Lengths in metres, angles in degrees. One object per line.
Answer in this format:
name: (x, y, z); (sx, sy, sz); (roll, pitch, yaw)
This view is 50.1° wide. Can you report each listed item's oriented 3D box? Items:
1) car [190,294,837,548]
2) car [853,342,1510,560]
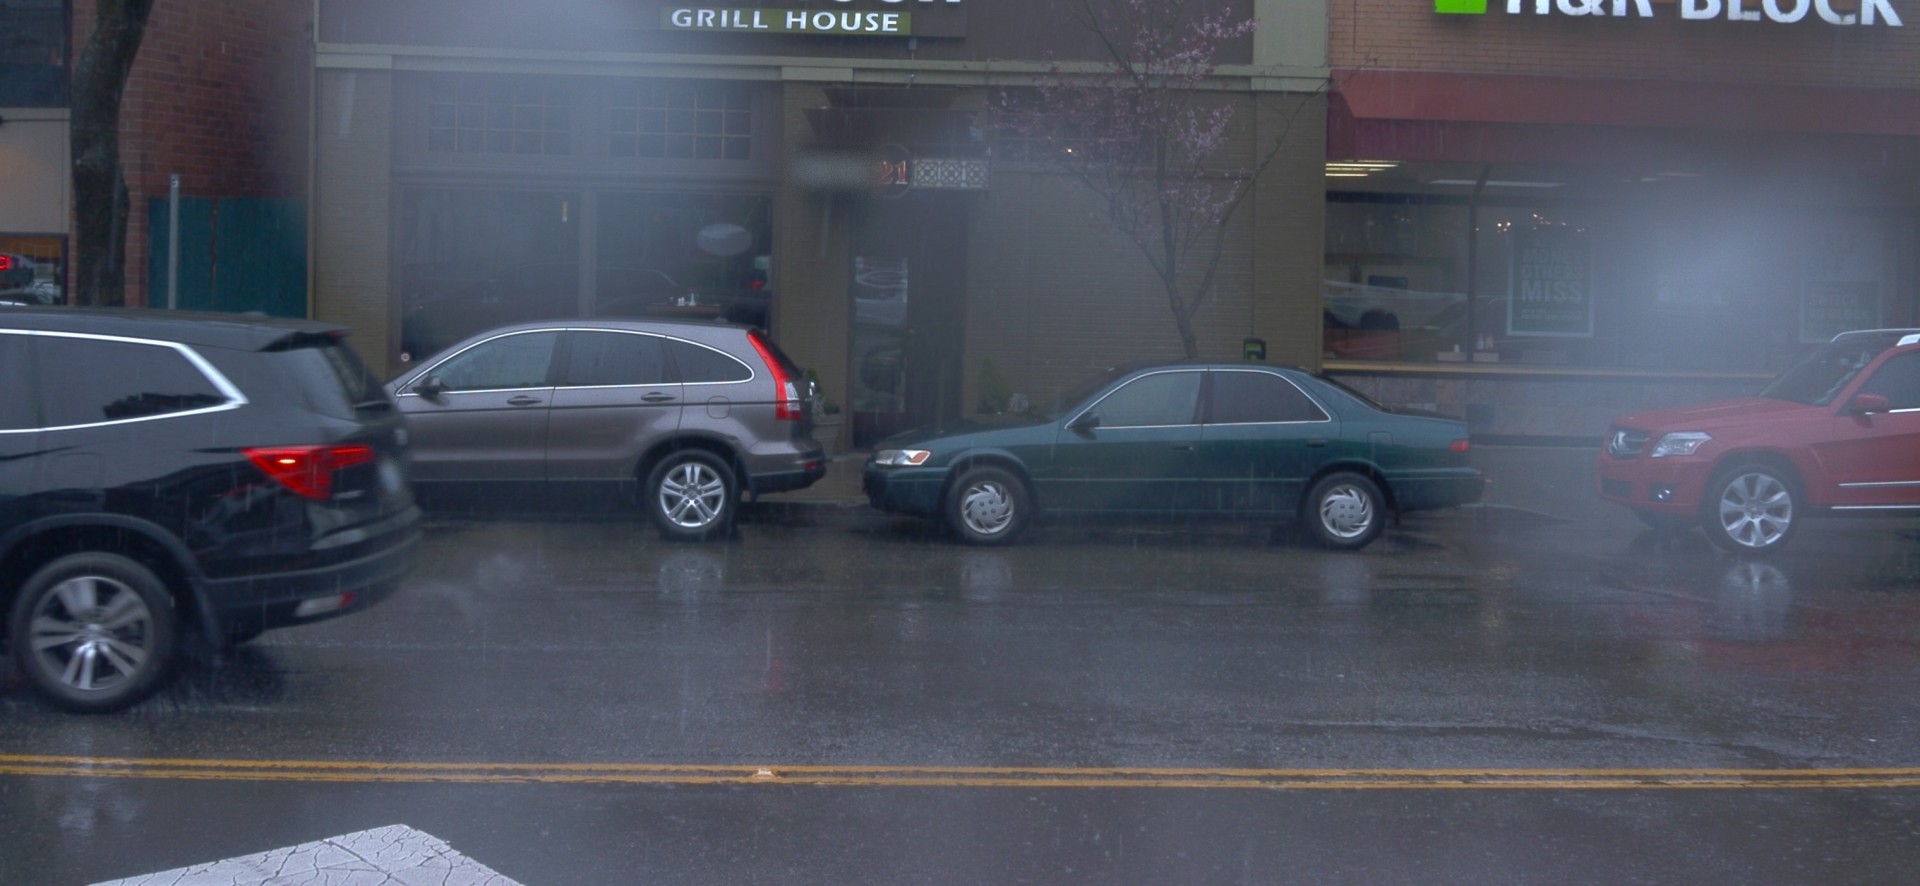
car: (-3.281, -0.214, 15.797); (4.605, 1.724, 1.918); (0, 4, -5)
car: (1.593, 0.018, 15.965); (4.796, 1.414, 1.988); (1, 5, -2)
